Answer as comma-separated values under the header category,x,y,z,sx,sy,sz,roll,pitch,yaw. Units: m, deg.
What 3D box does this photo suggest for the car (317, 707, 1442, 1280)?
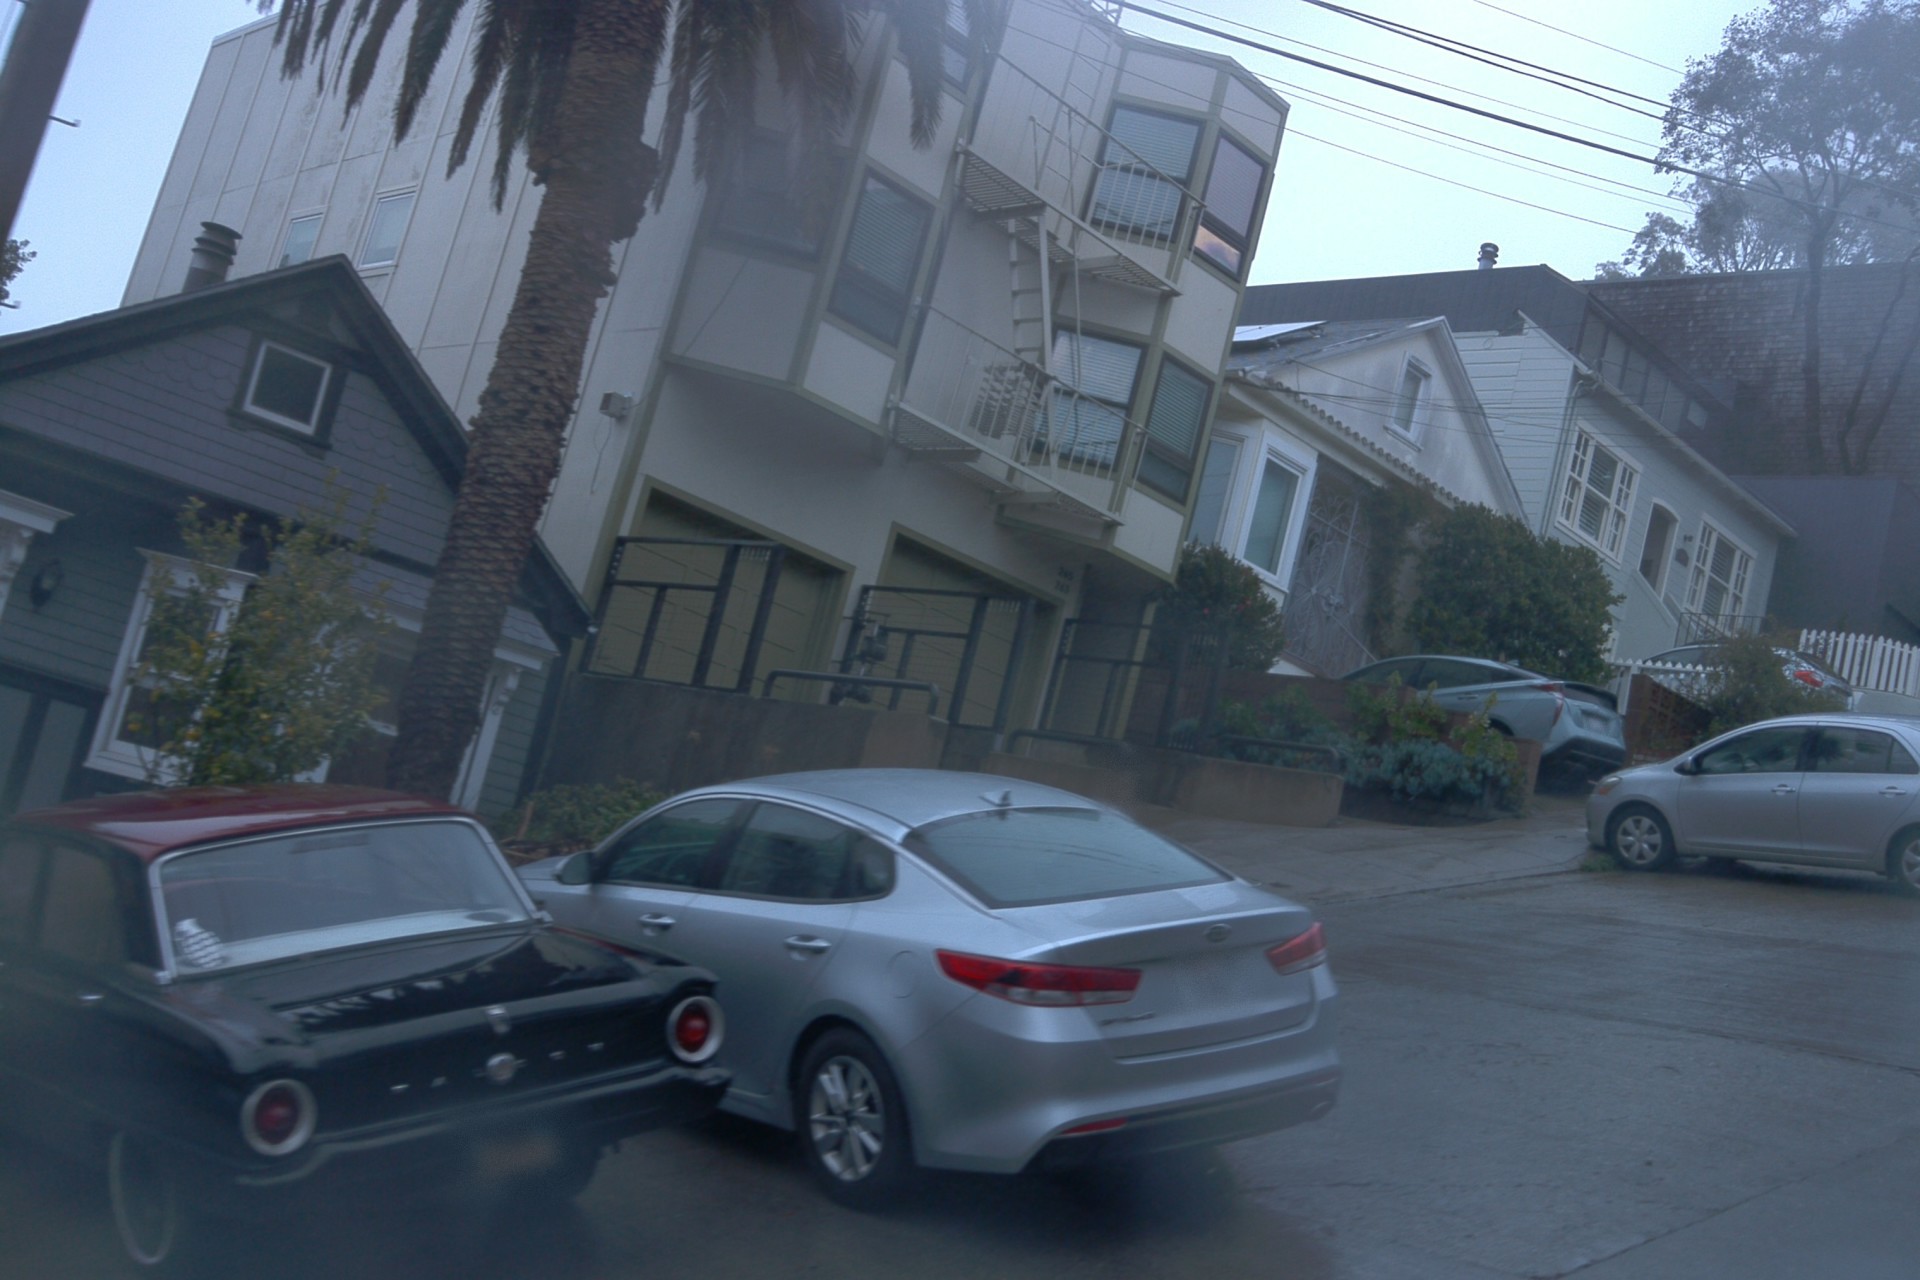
category,x,y,z,sx,sy,sz,roll,pitch,yaw
car,-0.685,1.323,8.895,2.242,1.890,5.033,0,0,-39

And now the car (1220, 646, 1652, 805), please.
category,x,y,z,sx,sy,sz,roll,pitch,yaw
car,5.459,0.904,24.135,2.111,1.650,4.454,0,0,-45
